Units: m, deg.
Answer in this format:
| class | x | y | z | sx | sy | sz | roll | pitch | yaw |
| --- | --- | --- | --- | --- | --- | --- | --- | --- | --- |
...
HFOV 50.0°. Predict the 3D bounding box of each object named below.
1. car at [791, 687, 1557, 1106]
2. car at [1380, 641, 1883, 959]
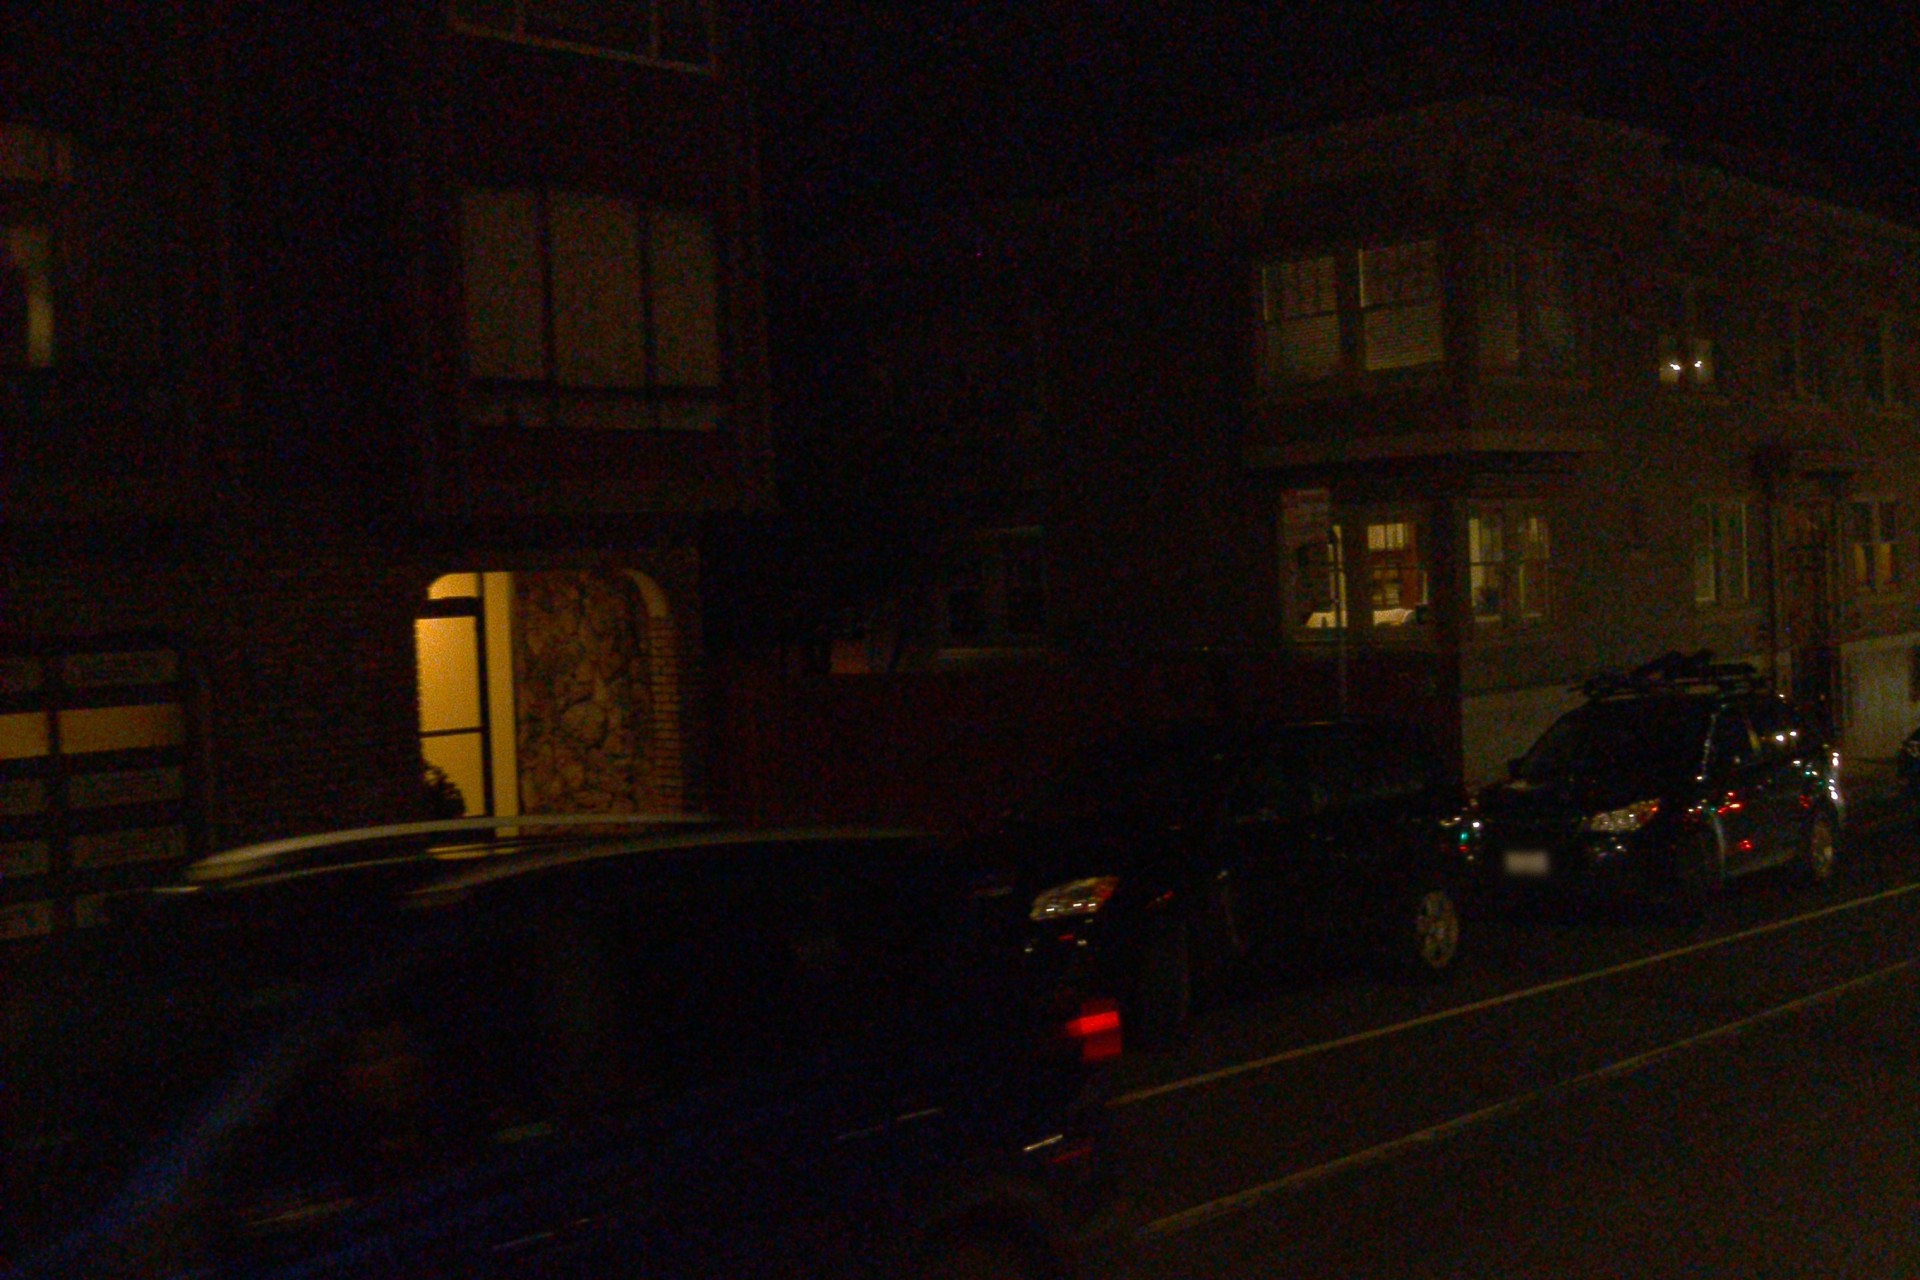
| class | x | y | z | sx | sy | sz | roll | pitch | yaw |
| --- | --- | --- | --- | --- | --- | --- | --- | --- | --- |
| car | 1.459 | 1.301 | 12.403 | 2.170 | 1.850 | 4.655 | 1 | 1 | 44 |
| car | 5.533 | 1.106 | 16.585 | 2.165 | 2.110 | 4.608 | 1 | 1 | 42 |
